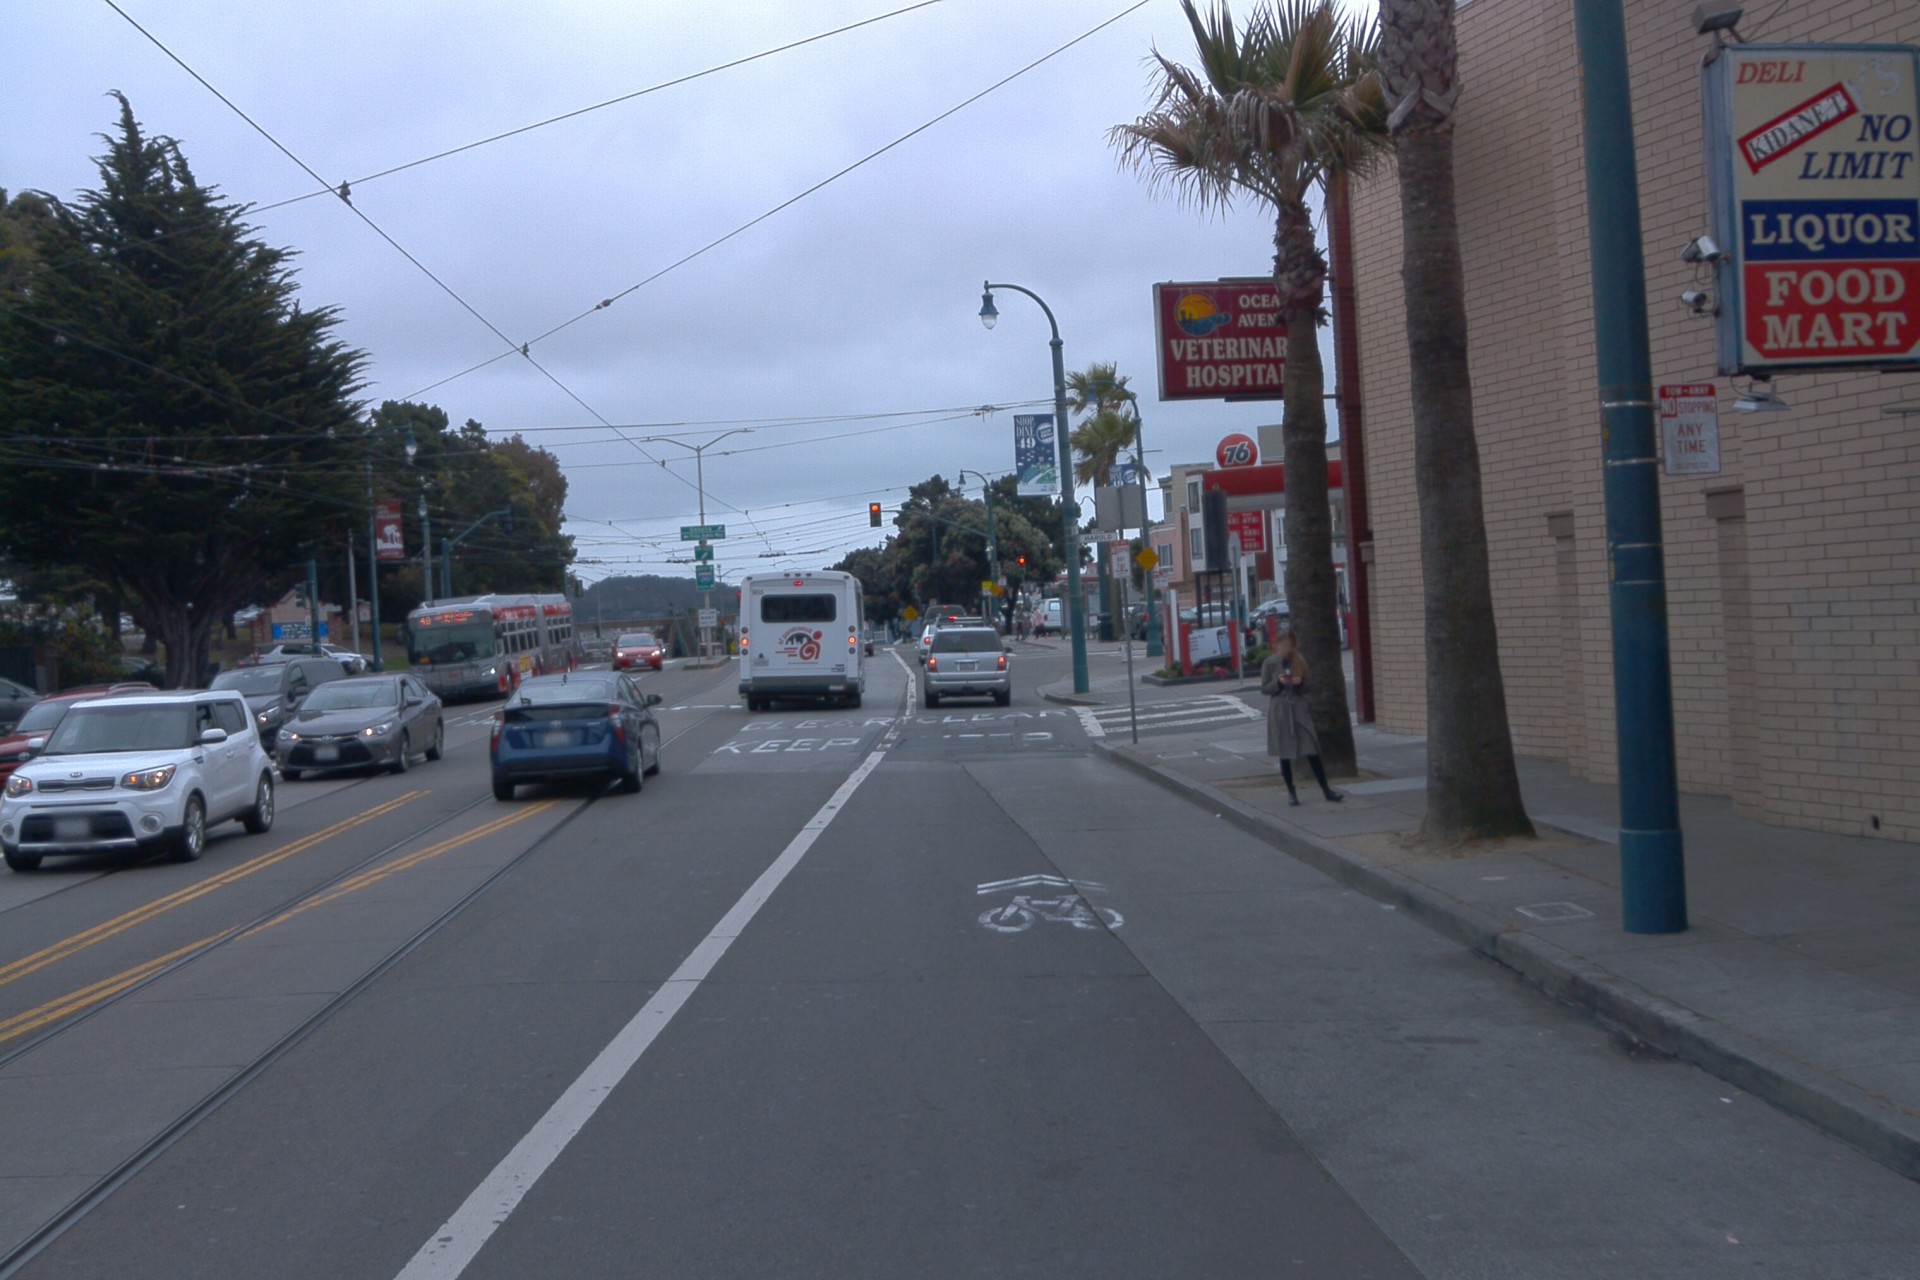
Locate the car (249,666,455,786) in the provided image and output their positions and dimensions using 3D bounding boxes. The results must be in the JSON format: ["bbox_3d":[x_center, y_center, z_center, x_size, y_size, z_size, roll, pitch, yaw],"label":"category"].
[{"bbox_3d":[-9.224,1.251,31.631,2.068,1.540,4.920,0,1,-5],"label":"car"}]

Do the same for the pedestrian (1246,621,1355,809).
[{"bbox_3d":[3.165,0.678,19.186,0.844,1.710,0.722,0,1,-5],"label":"pedestrian"}]

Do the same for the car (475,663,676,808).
[{"bbox_3d":[-4.723,1.119,25.828,1.970,1.540,4.263,0,1,-3],"label":"car"}]
